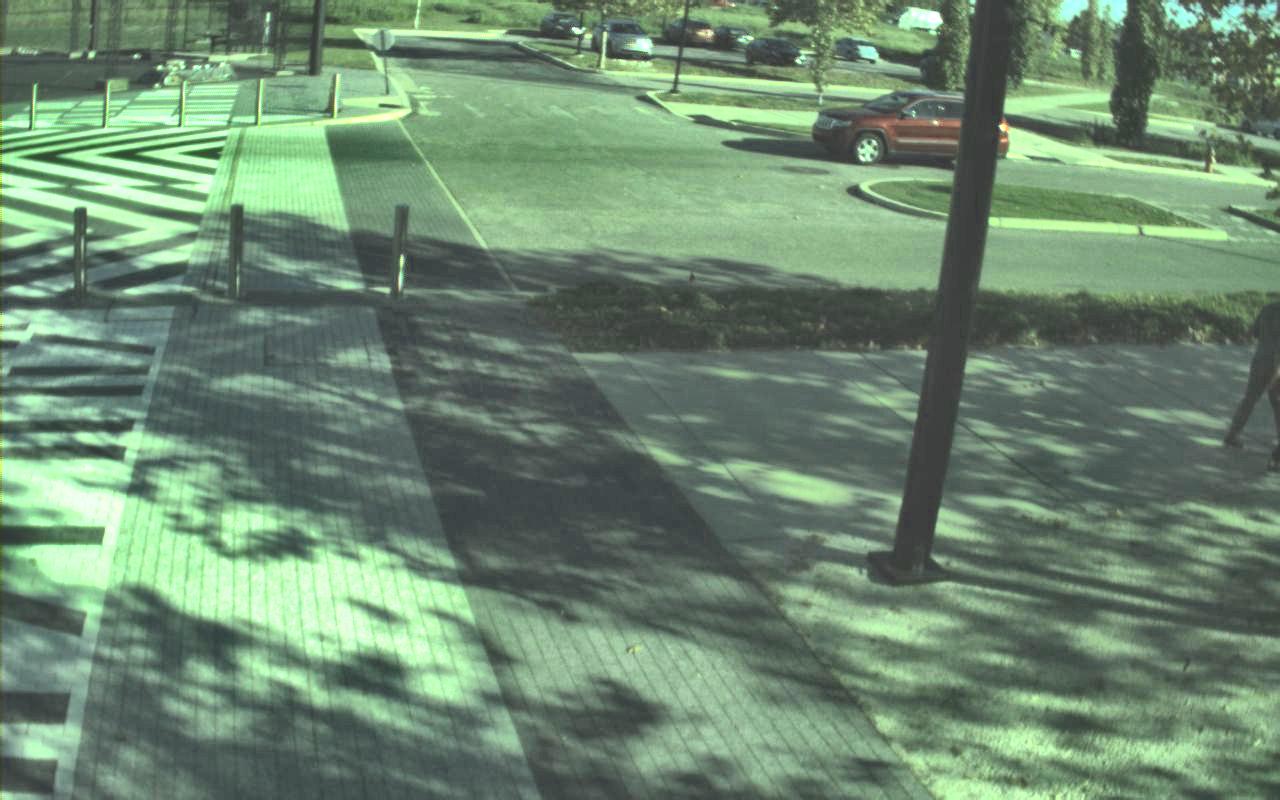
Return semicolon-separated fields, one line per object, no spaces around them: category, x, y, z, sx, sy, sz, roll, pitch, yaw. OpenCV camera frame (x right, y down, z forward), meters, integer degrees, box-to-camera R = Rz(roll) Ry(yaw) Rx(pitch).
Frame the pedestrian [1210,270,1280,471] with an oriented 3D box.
pedestrian;5.916;-0.267;10.465;0.866;1.633;0.811;-6;16;-17

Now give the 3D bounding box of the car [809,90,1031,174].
car;6.474;-6.197;28.142;4.811;1.711;2.036;-5;17;-13
